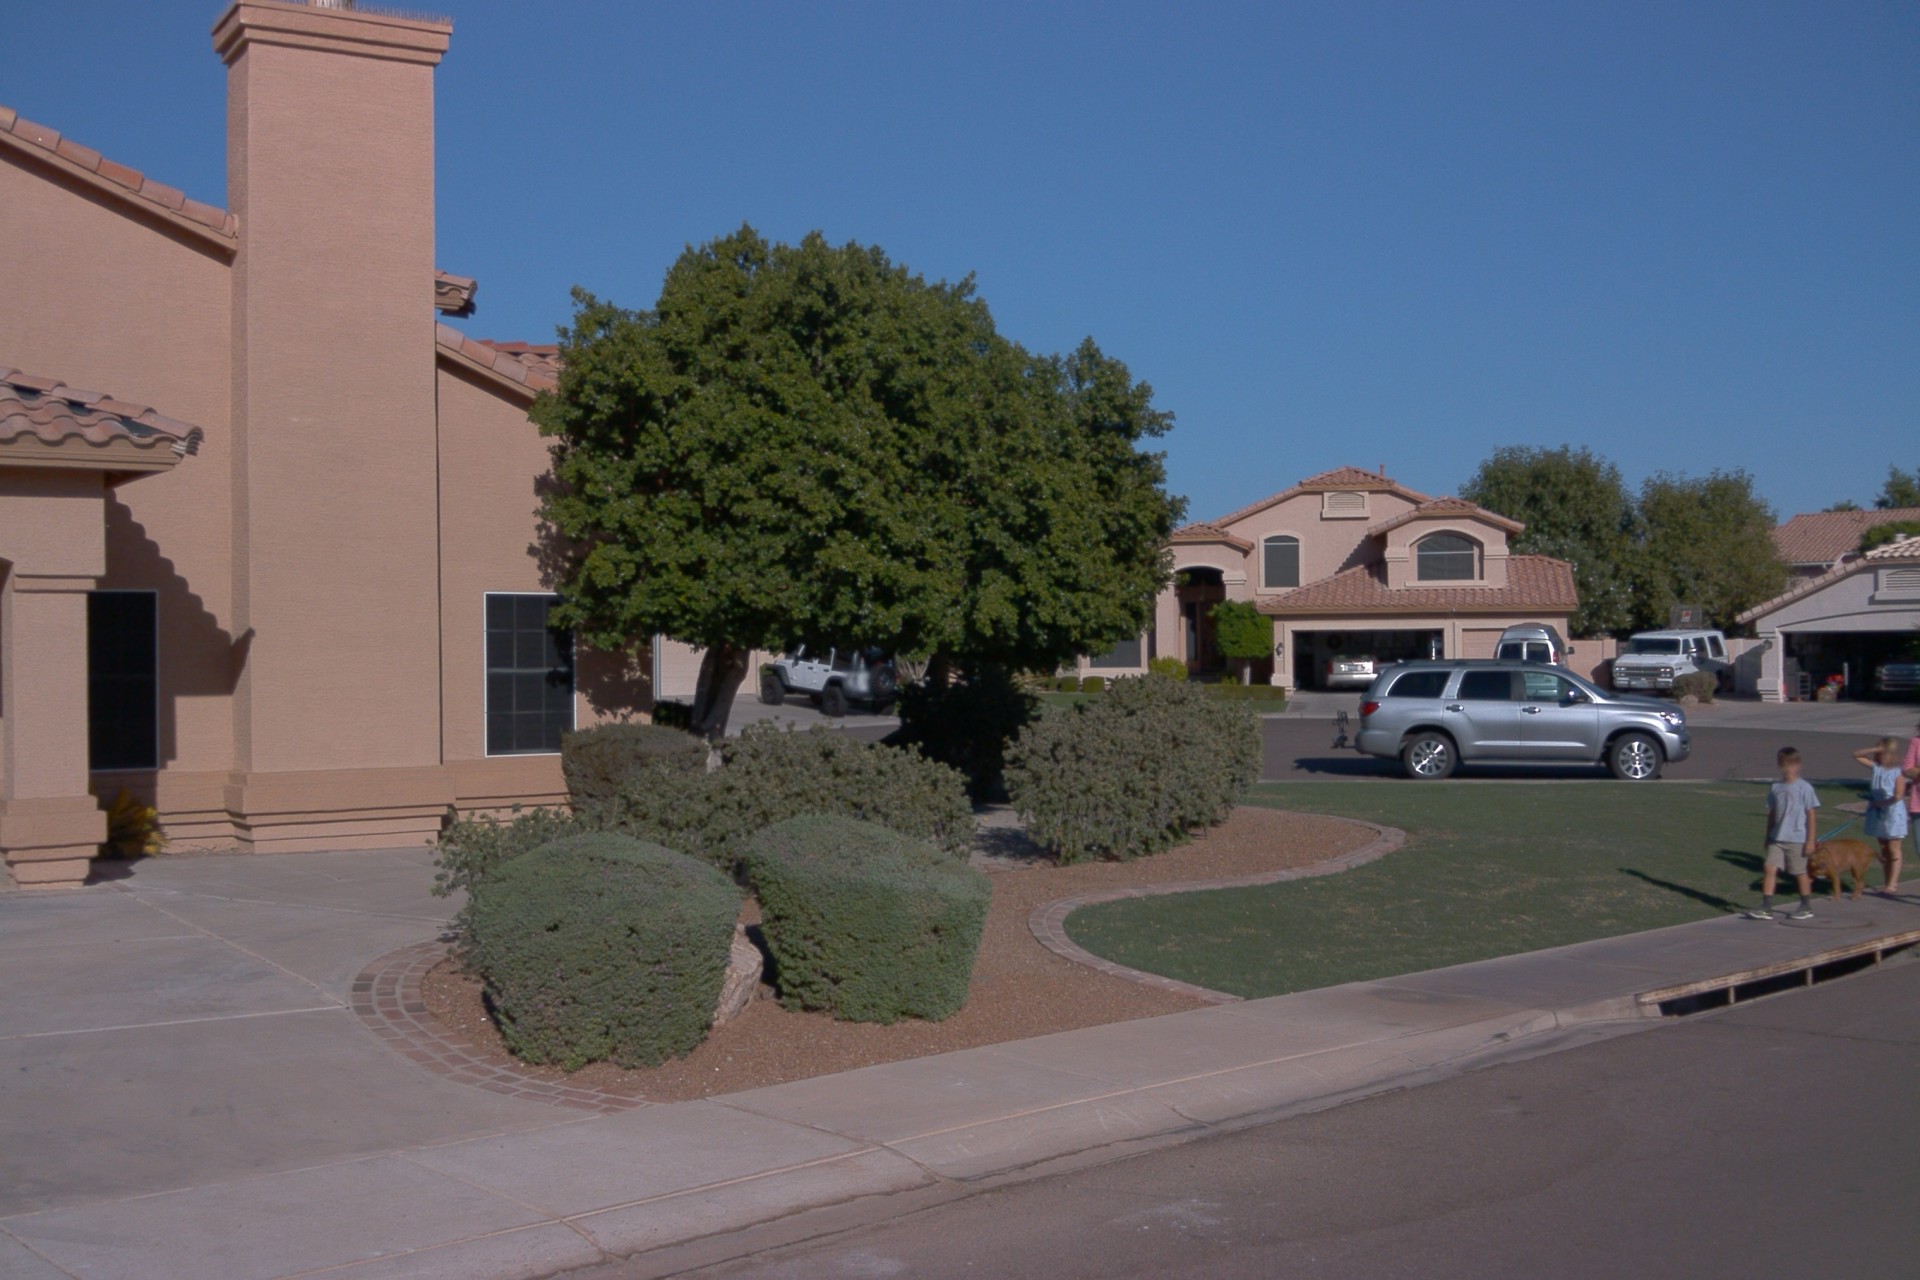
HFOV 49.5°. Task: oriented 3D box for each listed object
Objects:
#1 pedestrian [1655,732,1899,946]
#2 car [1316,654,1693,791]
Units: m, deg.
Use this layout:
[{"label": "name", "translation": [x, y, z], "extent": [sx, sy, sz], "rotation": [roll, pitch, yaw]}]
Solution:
[{"label": "pedestrian", "translation": [6.178, 1.467, 15.763], "extent": [1.267, 1.460, 1.200], "rotation": [0, 0, -31]}, {"label": "car", "translation": [8.763, 1.272, 33.706], "extent": [5.681, 2.060, 2.565], "rotation": [0, 0, 14]}]
